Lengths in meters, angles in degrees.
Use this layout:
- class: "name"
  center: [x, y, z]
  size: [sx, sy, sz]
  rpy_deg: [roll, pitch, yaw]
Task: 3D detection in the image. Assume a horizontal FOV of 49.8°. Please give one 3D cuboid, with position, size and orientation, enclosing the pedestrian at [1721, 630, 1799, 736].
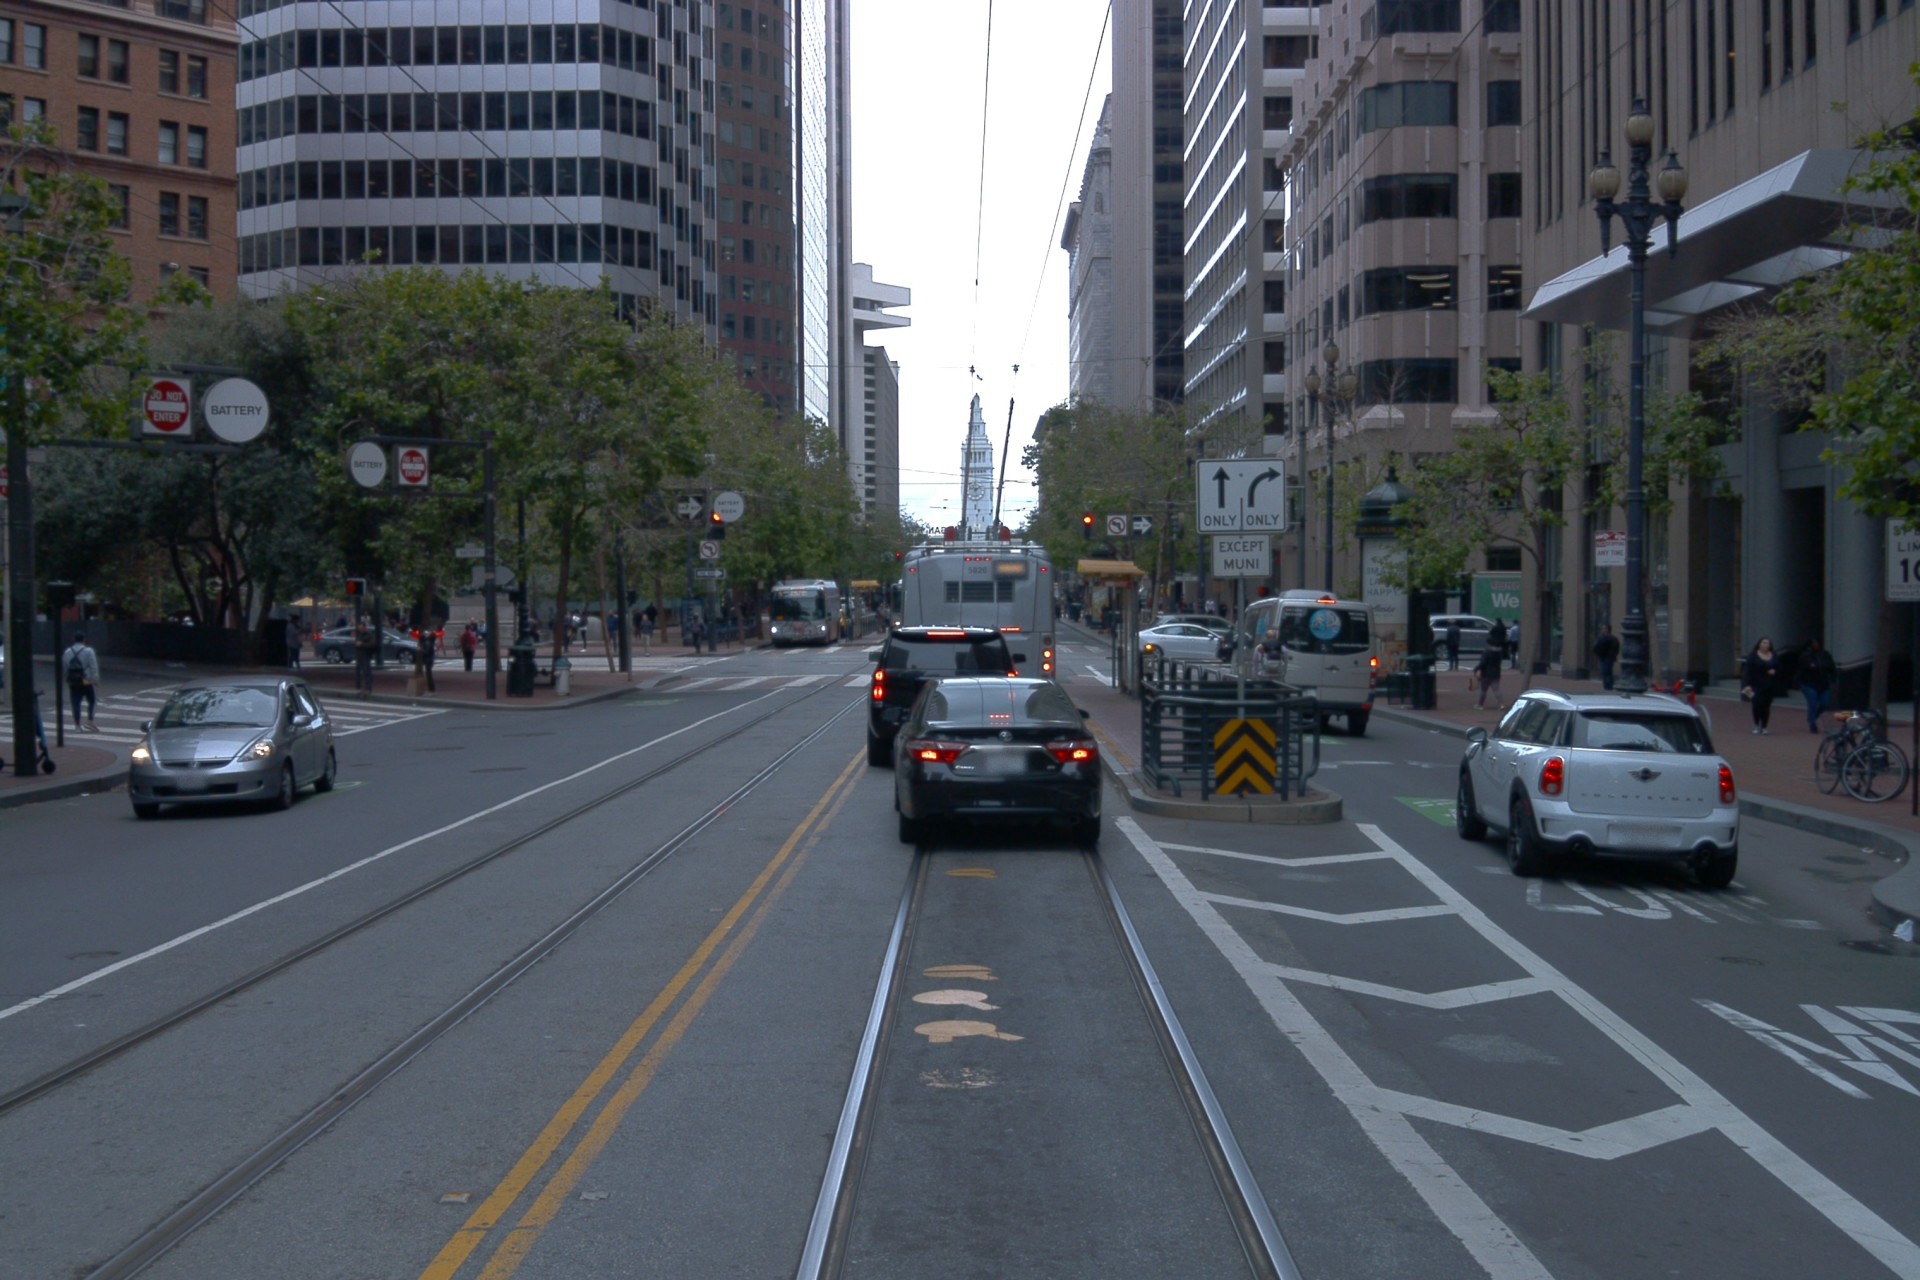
- class: "pedestrian"
  center: [13.266, 0.702, 34.282]
  size: [0.897, 1.710, 1.012]
  rpy_deg: [0, 1, 0]

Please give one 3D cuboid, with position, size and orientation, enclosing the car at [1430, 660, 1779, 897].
- class: "car"
  center: [5.516, 1.112, 18.231]
  size: [2.075, 1.784, 3.877]
  rpy_deg: [0, 1, 4]

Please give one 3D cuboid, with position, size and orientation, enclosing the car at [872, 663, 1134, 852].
- class: "car"
  center: [0.265, 1.009, 19.674]
  size: [2.188, 1.460, 4.687]
  rpy_deg: [0, 1, -2]

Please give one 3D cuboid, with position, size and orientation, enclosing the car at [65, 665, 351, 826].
- class: "car"
  center: [-8.480, 1.131, 23.692]
  size: [2.069, 1.580, 3.978]
  rpy_deg: [-1, 1, -4]

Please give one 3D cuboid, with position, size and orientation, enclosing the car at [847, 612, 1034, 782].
- class: "car"
  center: [-0.210, 0.683, 28.365]
  size: [2.308, 2.100, 5.442]
  rpy_deg: [0, 1, 1]

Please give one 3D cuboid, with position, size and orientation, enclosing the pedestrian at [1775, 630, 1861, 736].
- class: "pedestrian"
  center: [14.193, 0.699, 34.211]
  size: [0.904, 1.700, 1.314]
  rpy_deg: [0, 1, 1]

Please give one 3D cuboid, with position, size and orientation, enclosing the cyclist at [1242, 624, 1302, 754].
- class: "cyclist"
  center: [4.662, 0.708, 30.952]
  size: [0.638, 1.900, 1.439]
  rpy_deg: [0, 1, -1]
